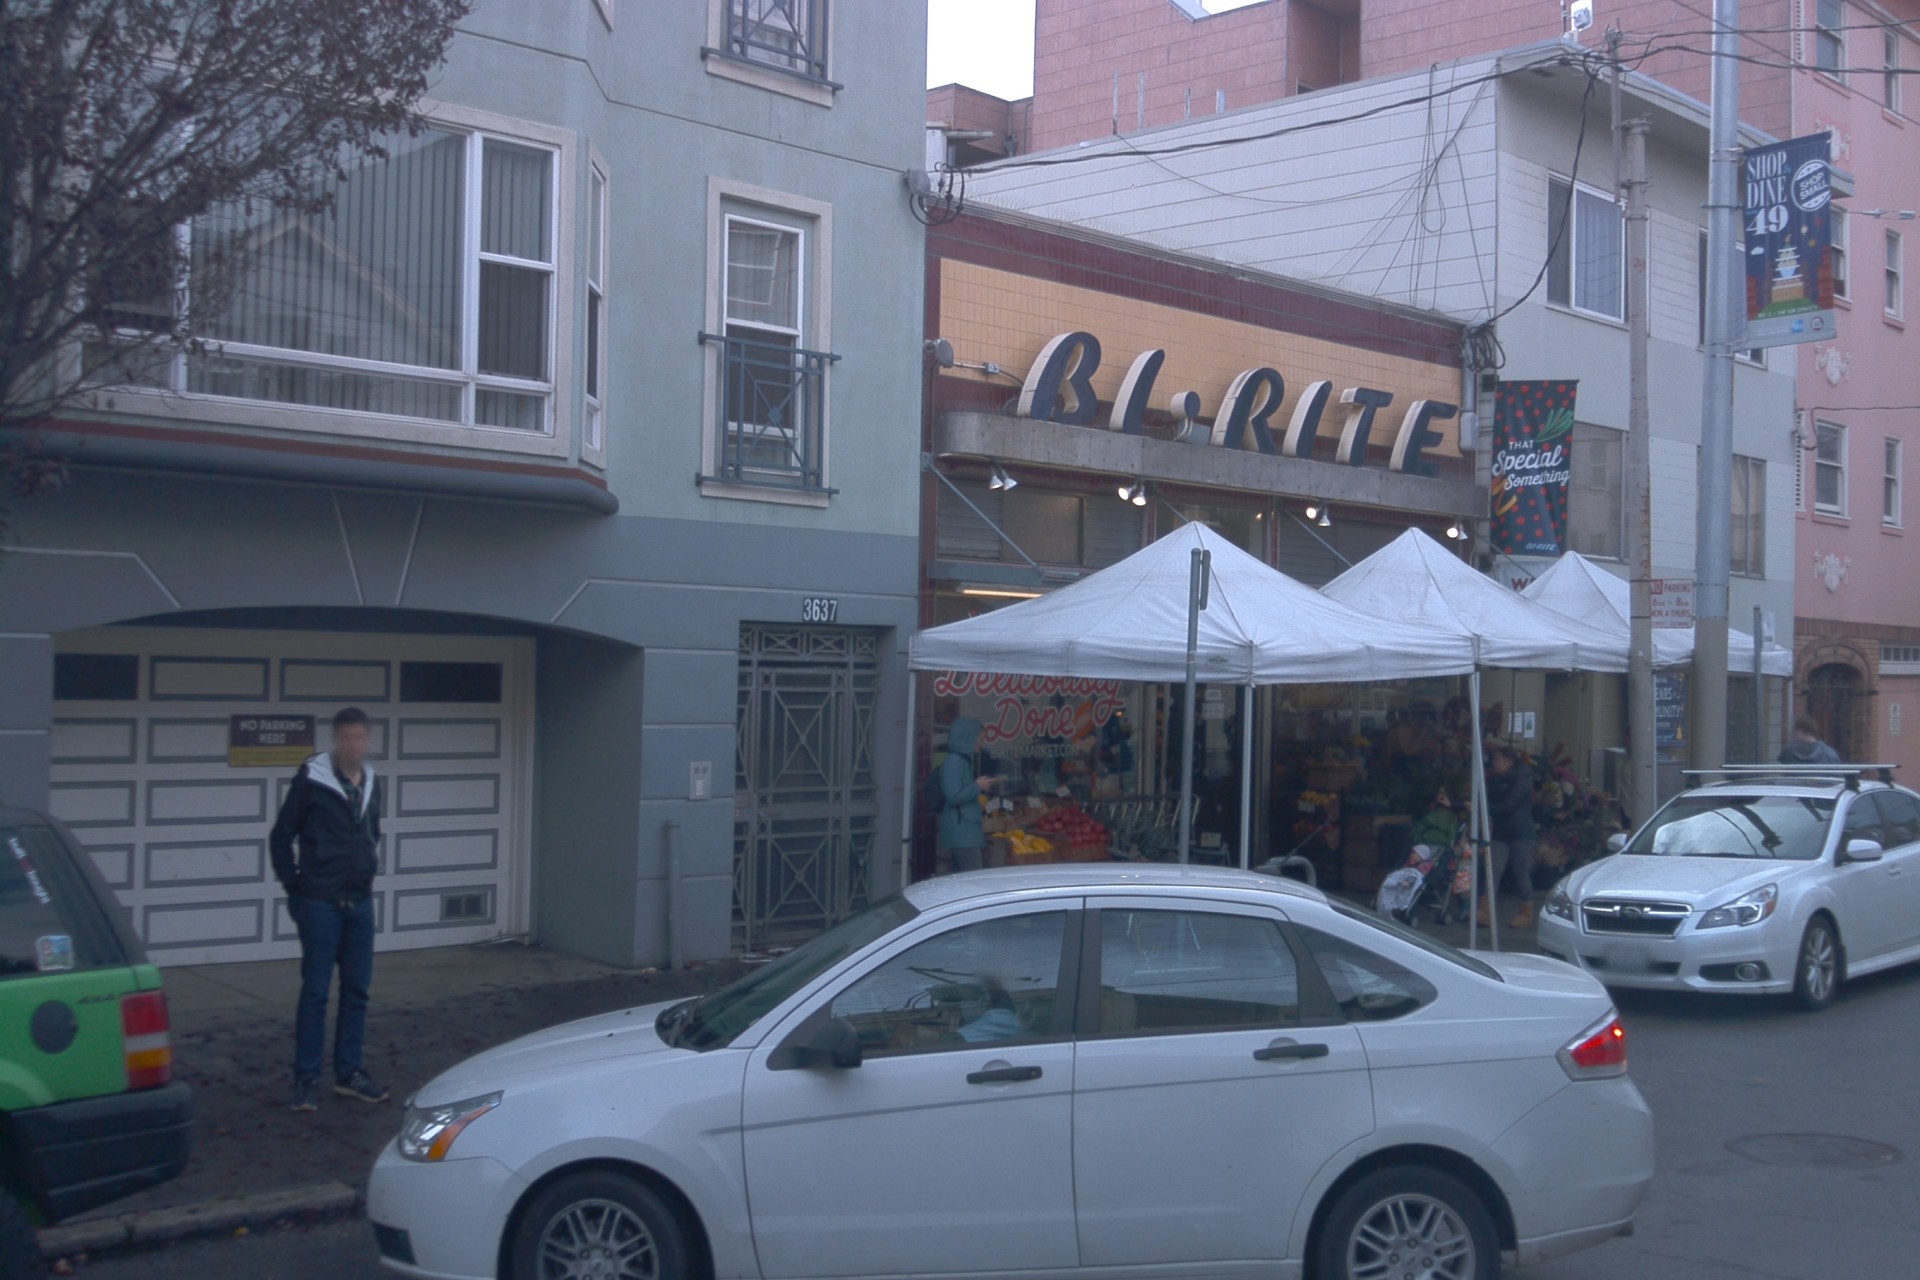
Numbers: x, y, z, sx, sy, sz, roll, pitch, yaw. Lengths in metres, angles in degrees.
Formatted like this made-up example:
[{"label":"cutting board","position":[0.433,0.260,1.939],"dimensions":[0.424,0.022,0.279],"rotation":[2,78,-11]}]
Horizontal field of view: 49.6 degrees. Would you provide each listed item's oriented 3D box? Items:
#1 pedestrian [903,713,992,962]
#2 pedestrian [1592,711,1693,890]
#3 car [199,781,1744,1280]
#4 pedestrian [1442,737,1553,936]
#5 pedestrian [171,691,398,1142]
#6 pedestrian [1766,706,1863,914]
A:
[{"label":"pedestrian","position":[-0.084,1.423,15.144],"dimensions":[0.523,1.750,0.591],"rotation":[1,-1,9]},{"label":"pedestrian","position":[6.628,1.544,20.175],"dimensions":[0.742,1.670,0.760],"rotation":[1,-1,3]},{"label":"car","position":[0.036,1.396,7.092],"dimensions":[4.508,1.640,2.024],"rotation":[1,-1,-4]},{"label":"pedestrian","position":[4.423,1.596,17.082],"dimensions":[0.617,1.570,0.622],"rotation":[2,-1,-42]},{"label":"pedestrian","position":[-3.148,1.239,9.683],"dimensions":[0.624,1.980,0.753],"rotation":[0,-1,43]},{"label":"pedestrian","position":[7.866,1.547,19.129],"dimensions":[0.756,1.840,0.723],"rotation":[1,-1,18]}]
